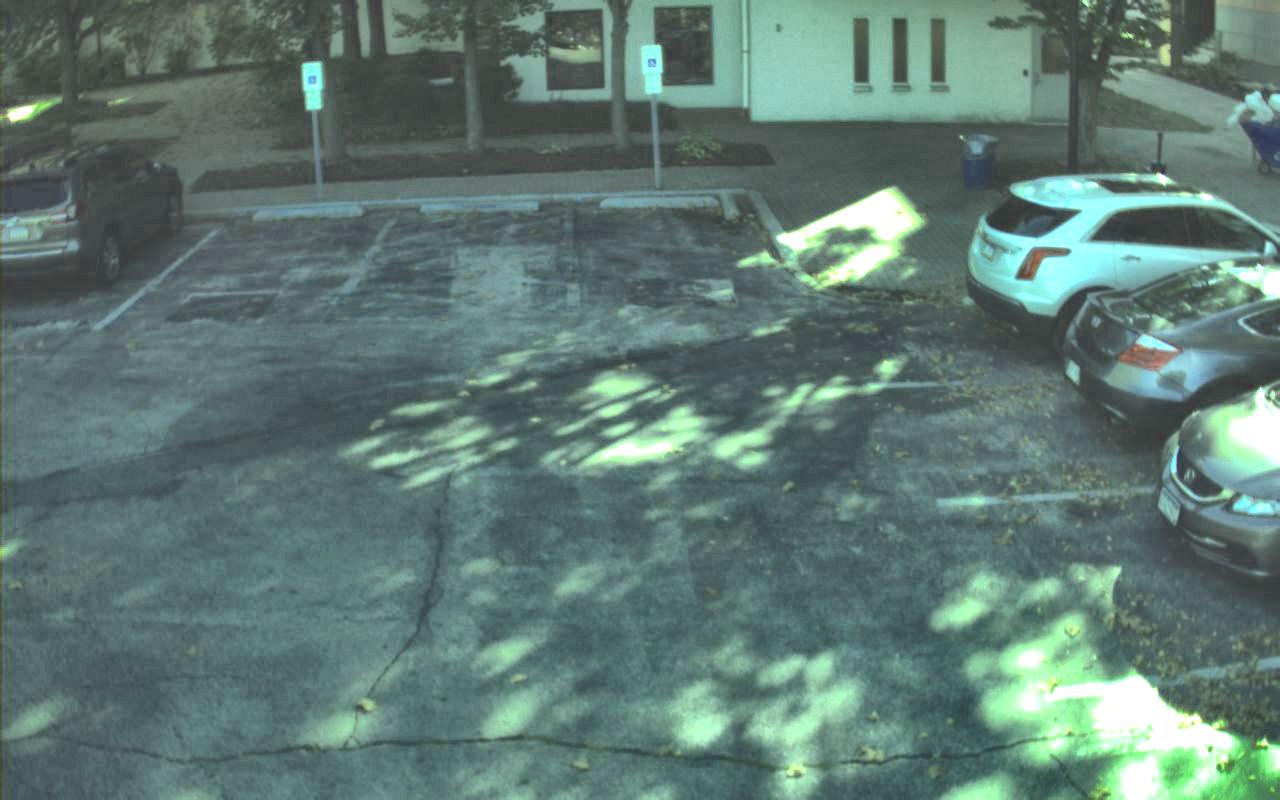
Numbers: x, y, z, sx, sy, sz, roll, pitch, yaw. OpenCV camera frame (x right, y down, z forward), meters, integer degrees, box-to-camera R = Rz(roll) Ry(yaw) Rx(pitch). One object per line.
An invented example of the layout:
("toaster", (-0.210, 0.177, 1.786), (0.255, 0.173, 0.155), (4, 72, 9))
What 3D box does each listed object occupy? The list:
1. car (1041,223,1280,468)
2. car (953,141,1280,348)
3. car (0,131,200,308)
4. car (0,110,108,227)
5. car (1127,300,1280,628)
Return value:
("car", (5.719, -0.554, 9.710), (4.293, 1.538, 1.904), (-2, 16, -3))
("car", (5.673, -1.671, 12.089), (4.600, 1.701, 1.996), (-3, 16, -5))
("car", (-7.788, -2.630, 16.138), (1.977, 1.676, 4.595), (-2, 17, -3))
("car", (-12.343, -4.635, 22.194), (1.971, 1.626, 4.579), (-2, 17, -2))
("car", (5.711, 0.319, 7.451), (4.372, 1.565, 1.943), (-1, 16, 0))
